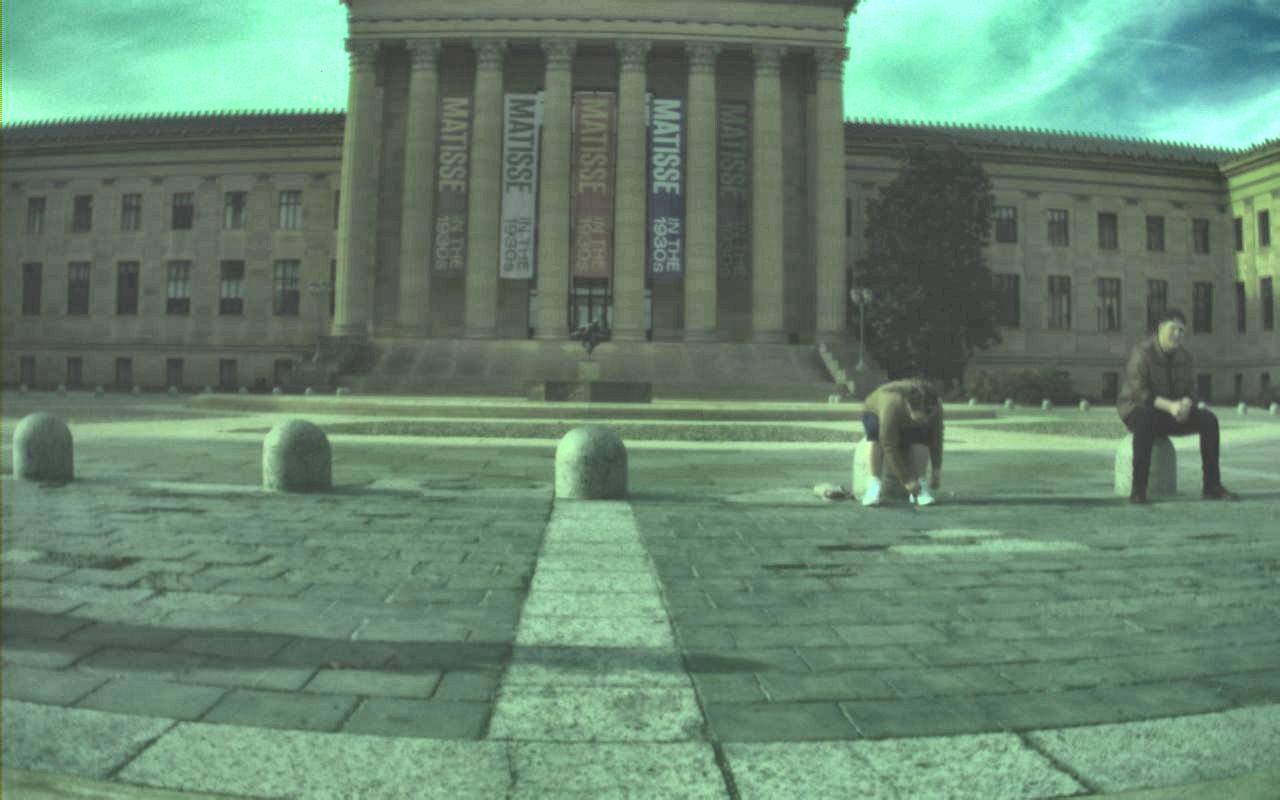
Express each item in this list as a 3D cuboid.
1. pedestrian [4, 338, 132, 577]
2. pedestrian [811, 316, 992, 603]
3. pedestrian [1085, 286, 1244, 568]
[{"bbox_3d":[-3.967,0.387,7.819,0.825,1.558,0.871,0,0,-34],"label":"pedestrian"},{"bbox_3d":[1.608,0.341,7.681,0.821,1.666,0.837,0,0,-15],"label":"pedestrian"},{"bbox_3d":[3.510,0.179,7.844,0.829,1.779,0.832,0,0,-1],"label":"pedestrian"}]
